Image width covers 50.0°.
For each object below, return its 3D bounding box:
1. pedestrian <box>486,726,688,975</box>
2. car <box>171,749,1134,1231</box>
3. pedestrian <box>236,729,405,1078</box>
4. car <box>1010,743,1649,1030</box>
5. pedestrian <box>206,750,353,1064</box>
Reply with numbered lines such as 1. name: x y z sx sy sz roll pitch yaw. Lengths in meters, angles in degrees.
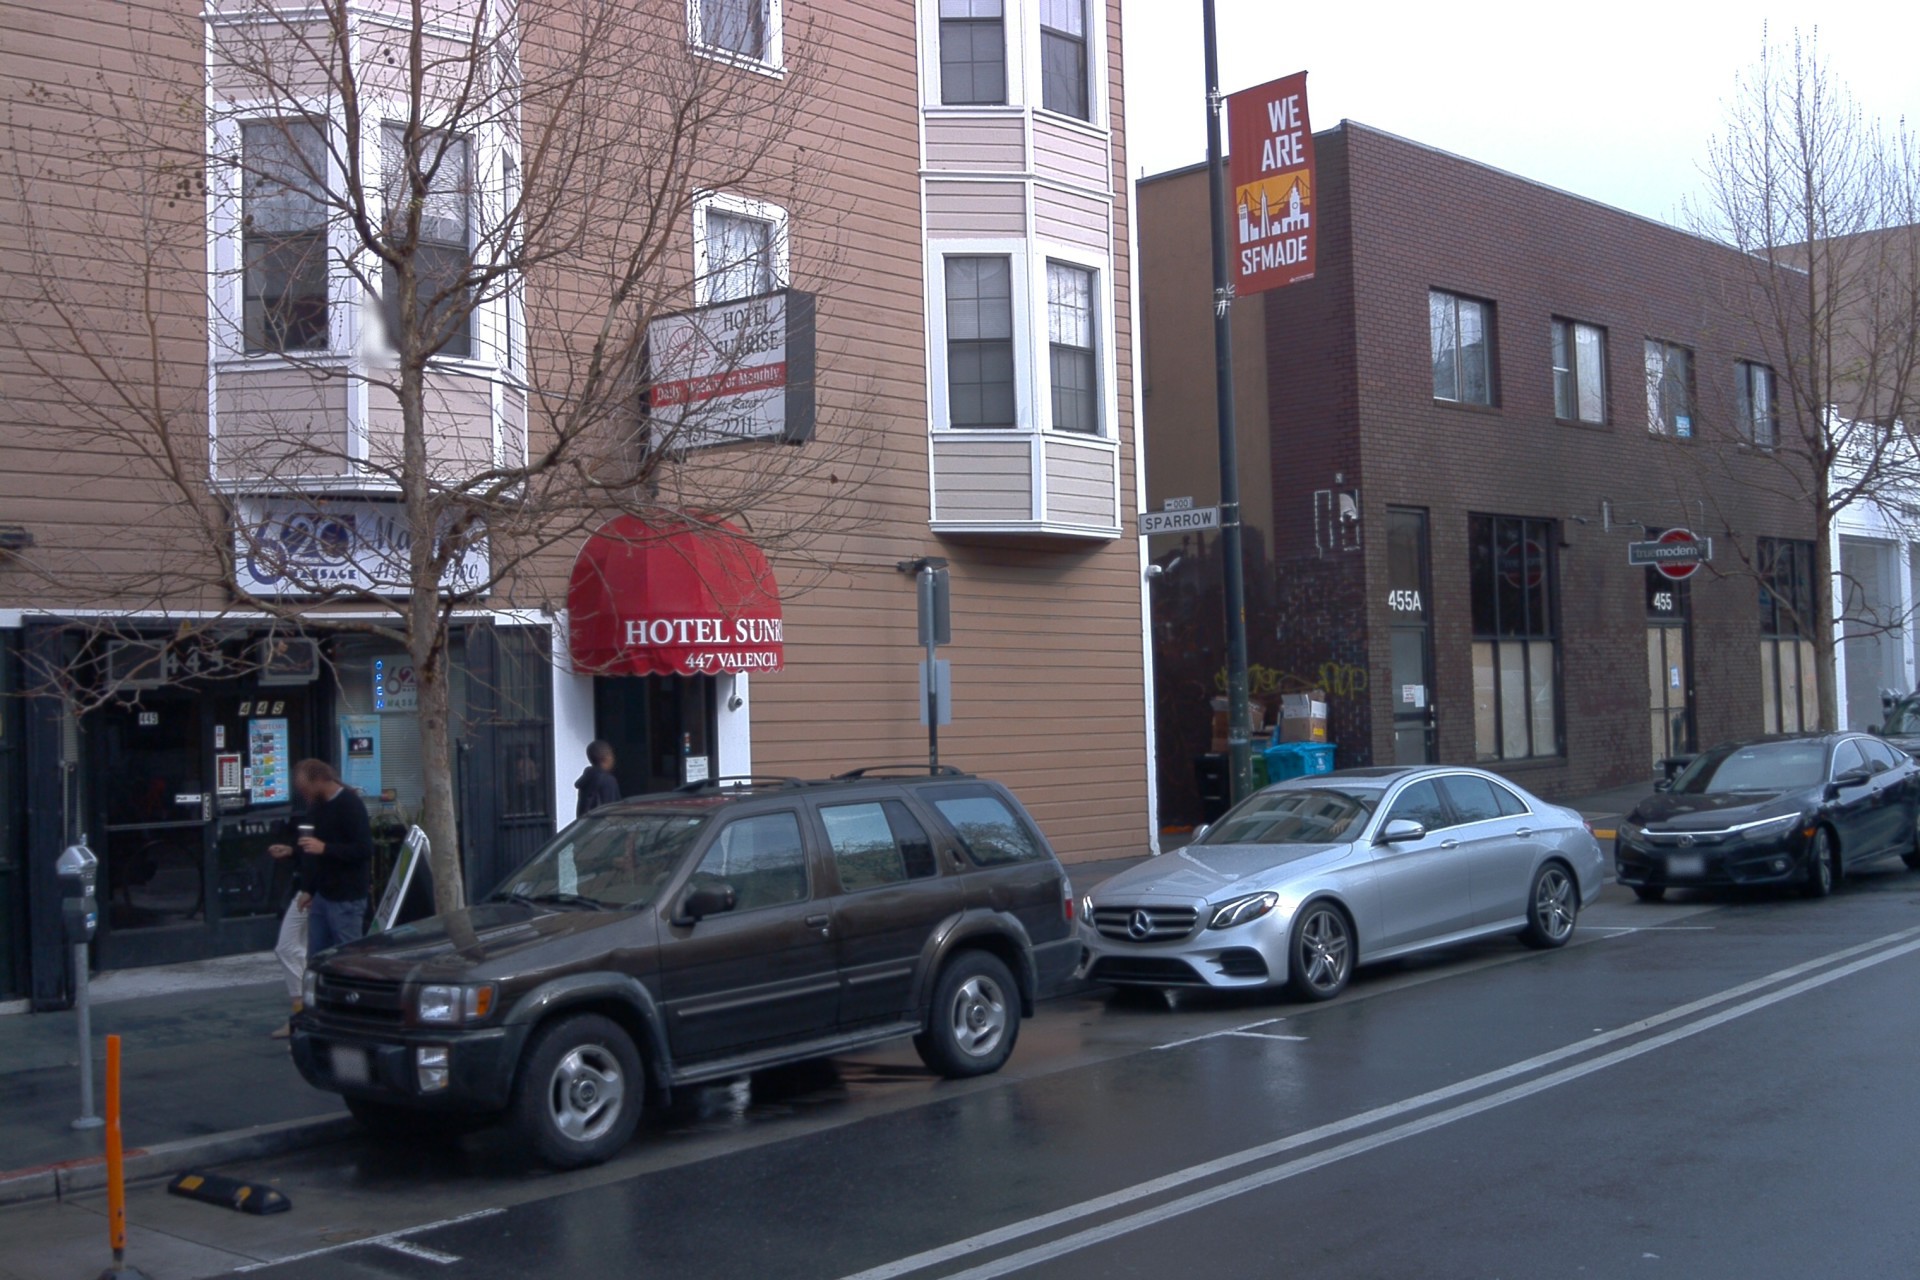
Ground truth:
1. pedestrian: -2.898 1.593 16.015 0.998 1.756 1.181 1 1 42
2. car: -1.453 1.596 11.064 4.696 1.690 2.245 -1 1 -45
3. pedestrian: -3.832 1.533 12.315 0.692 1.941 0.813 -1 1 -41
4. car: 2.876 1.650 15.224 4.941 1.460 2.147 -1 1 -44
5. pedestrian: -4.293 1.646 12.963 0.643 1.841 0.733 -1 1 -41
